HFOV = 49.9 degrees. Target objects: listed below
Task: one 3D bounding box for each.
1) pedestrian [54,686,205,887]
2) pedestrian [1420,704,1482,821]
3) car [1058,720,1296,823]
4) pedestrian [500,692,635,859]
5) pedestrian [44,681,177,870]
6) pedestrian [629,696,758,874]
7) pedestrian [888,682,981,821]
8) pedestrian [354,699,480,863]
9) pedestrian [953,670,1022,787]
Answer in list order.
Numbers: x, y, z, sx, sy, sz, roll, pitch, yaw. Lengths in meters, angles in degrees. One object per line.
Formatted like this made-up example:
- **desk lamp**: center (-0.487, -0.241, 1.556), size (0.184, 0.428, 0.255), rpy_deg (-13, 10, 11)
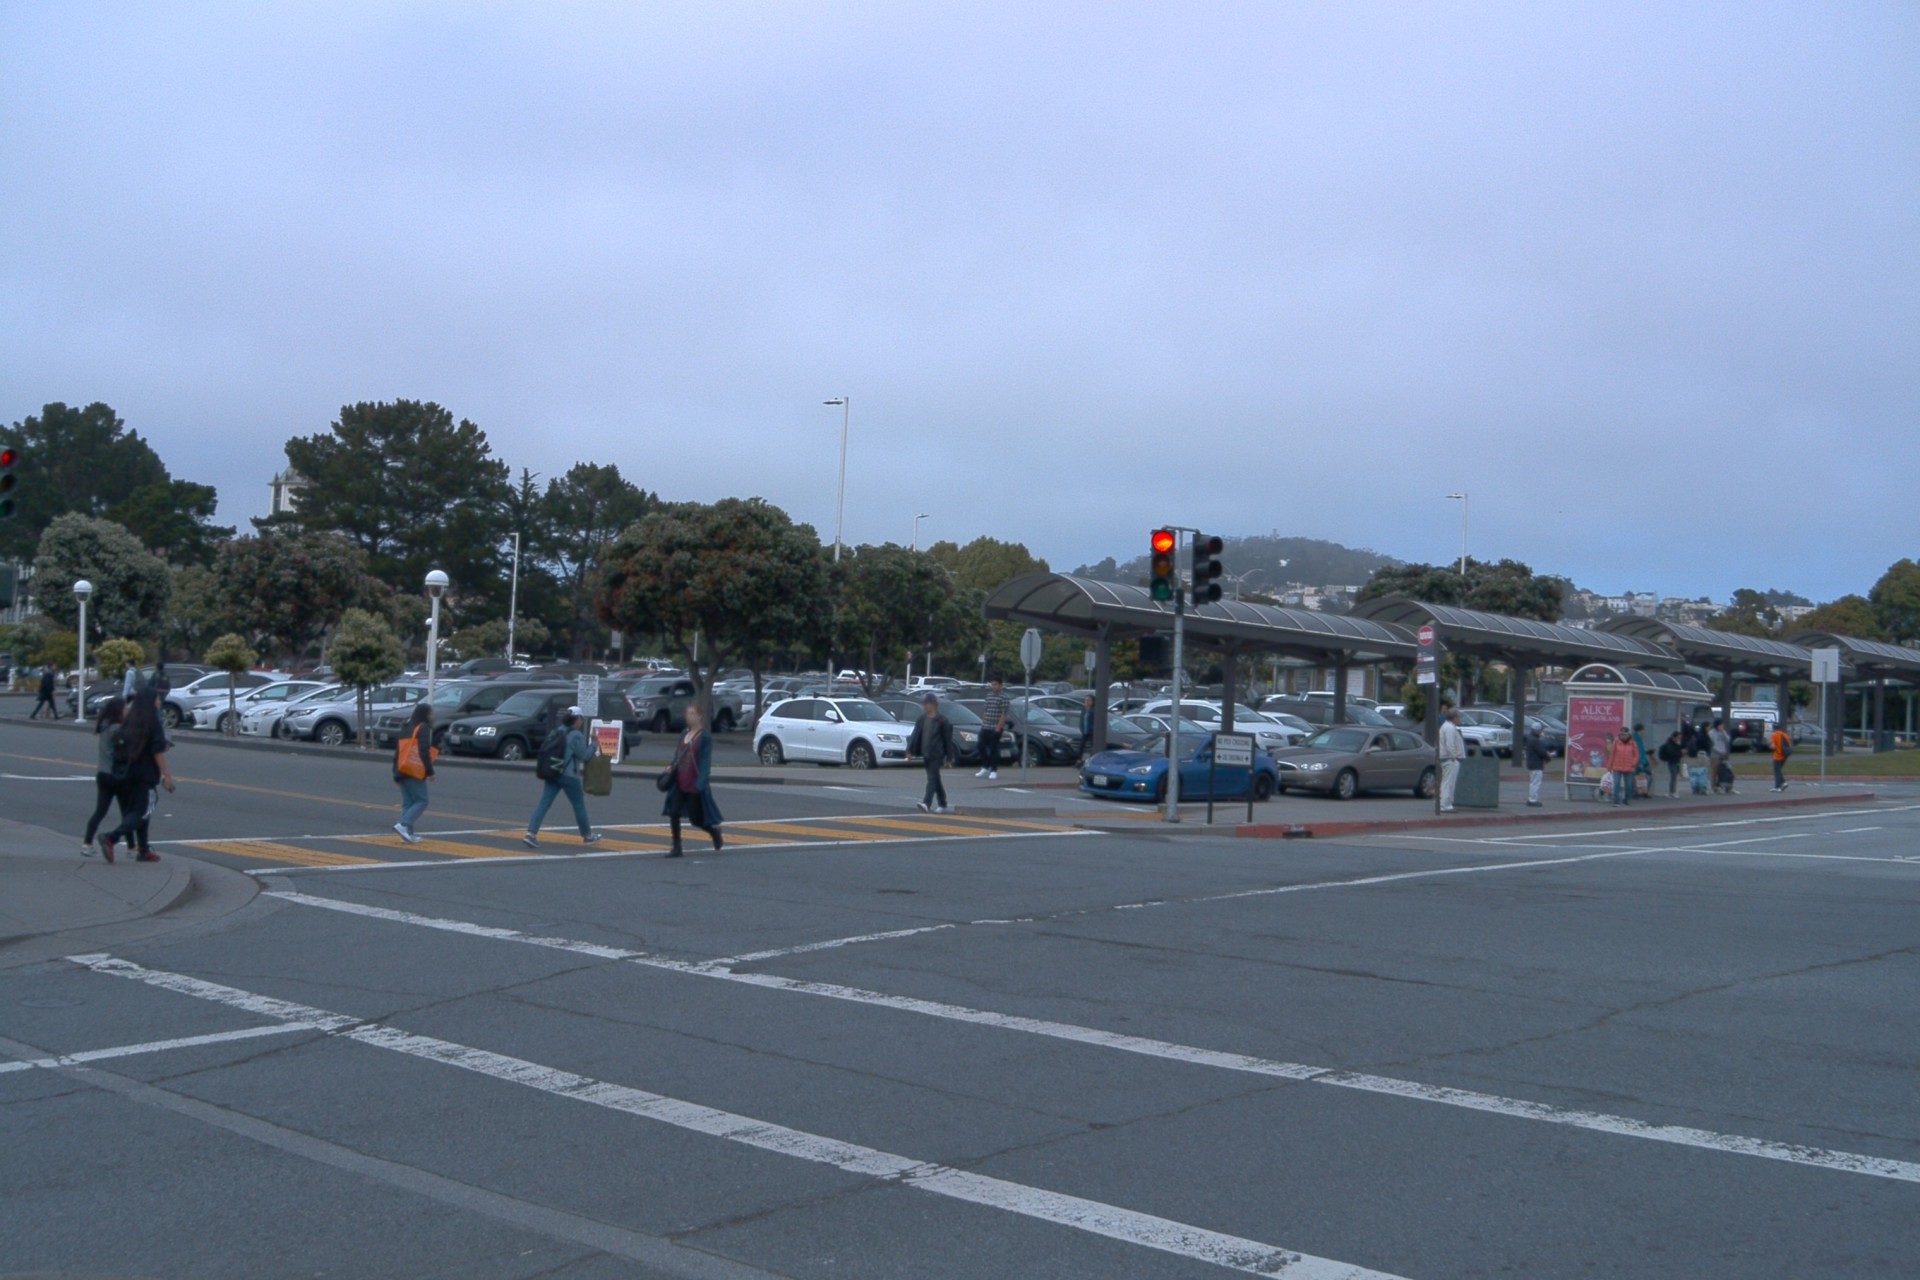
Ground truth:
- **pedestrian**: center (-7.299, 1.257, 18.158), size (0.770, 1.670, 0.961), rpy_deg (0, 1, 37)
- **pedestrian**: center (8.392, 2.079, 35.268), size (0.848, 1.930, 0.853), rpy_deg (0, 1, 28)
- **car**: center (3.965, 2.323, 37.224), size (4.281, 1.520, 1.972), rpy_deg (-1, 1, -44)
- **pedestrian**: center (-4.311, 1.462, 22.681), size (0.928, 1.720, 1.113), rpy_deg (1, 1, 42)
- **pedestrian**: center (-7.934, 1.244, 19.302), size (0.724, 1.690, 0.898), rpy_deg (0, 1, 20)
- **pedestrian**: center (-2.838, 1.516, 22.029), size (0.830, 1.790, 1.157), rpy_deg (0, 1, 29)
- **pedestrian**: center (-0.371, 1.617, 30.381), size (0.865, 1.960, 1.135), rpy_deg (0, 1, 33)
- **pedestrian**: center (-5.954, 1.523, 22.655), size (1.112, 1.690, 0.745), rpy_deg (-1, 1, -42)
- **pedestrian**: center (0.521, 1.646, 38.817), size (0.774, 2.110, 1.080), rpy_deg (1, 1, 40)
